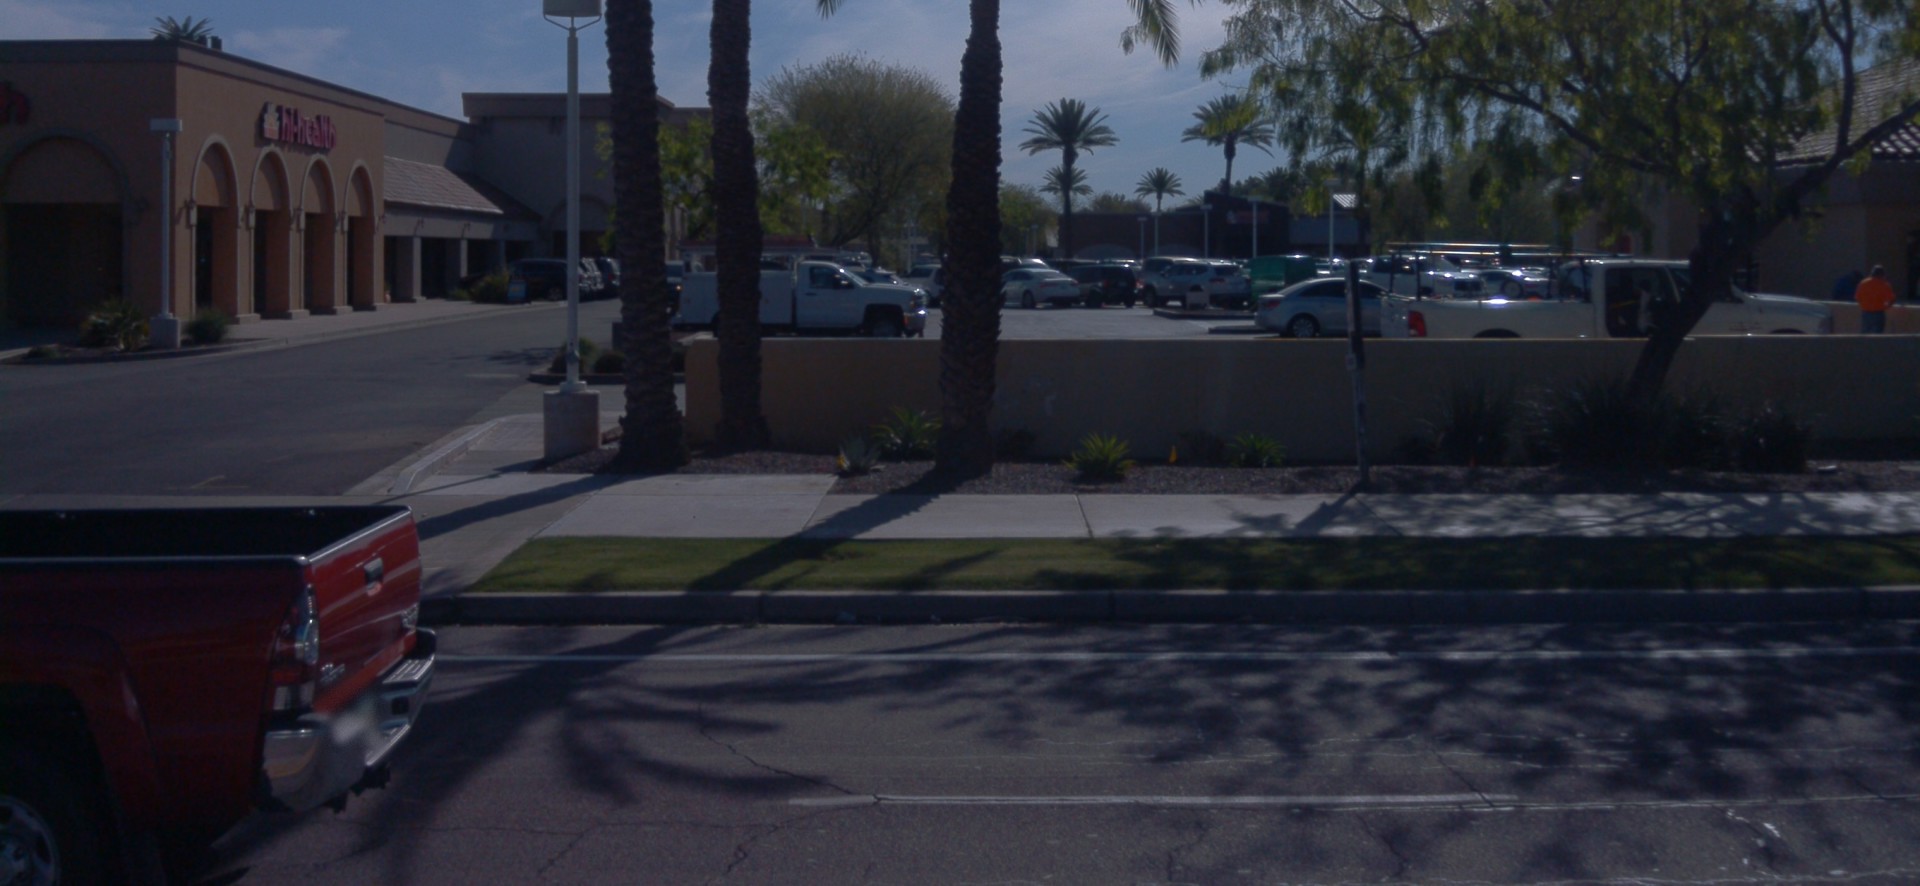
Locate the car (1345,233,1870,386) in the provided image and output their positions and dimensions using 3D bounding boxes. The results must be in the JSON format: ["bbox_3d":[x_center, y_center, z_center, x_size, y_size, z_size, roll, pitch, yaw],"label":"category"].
[{"bbox_3d":[9.191,-1.973,30.005,6.709,2.086,2.766,0,3,-2],"label":"car"}]

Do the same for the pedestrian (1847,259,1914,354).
[{"bbox_3d":[14.296,-2.135,32.302,0.781,1.450,0.852,0,1,10],"label":"pedestrian"}]
